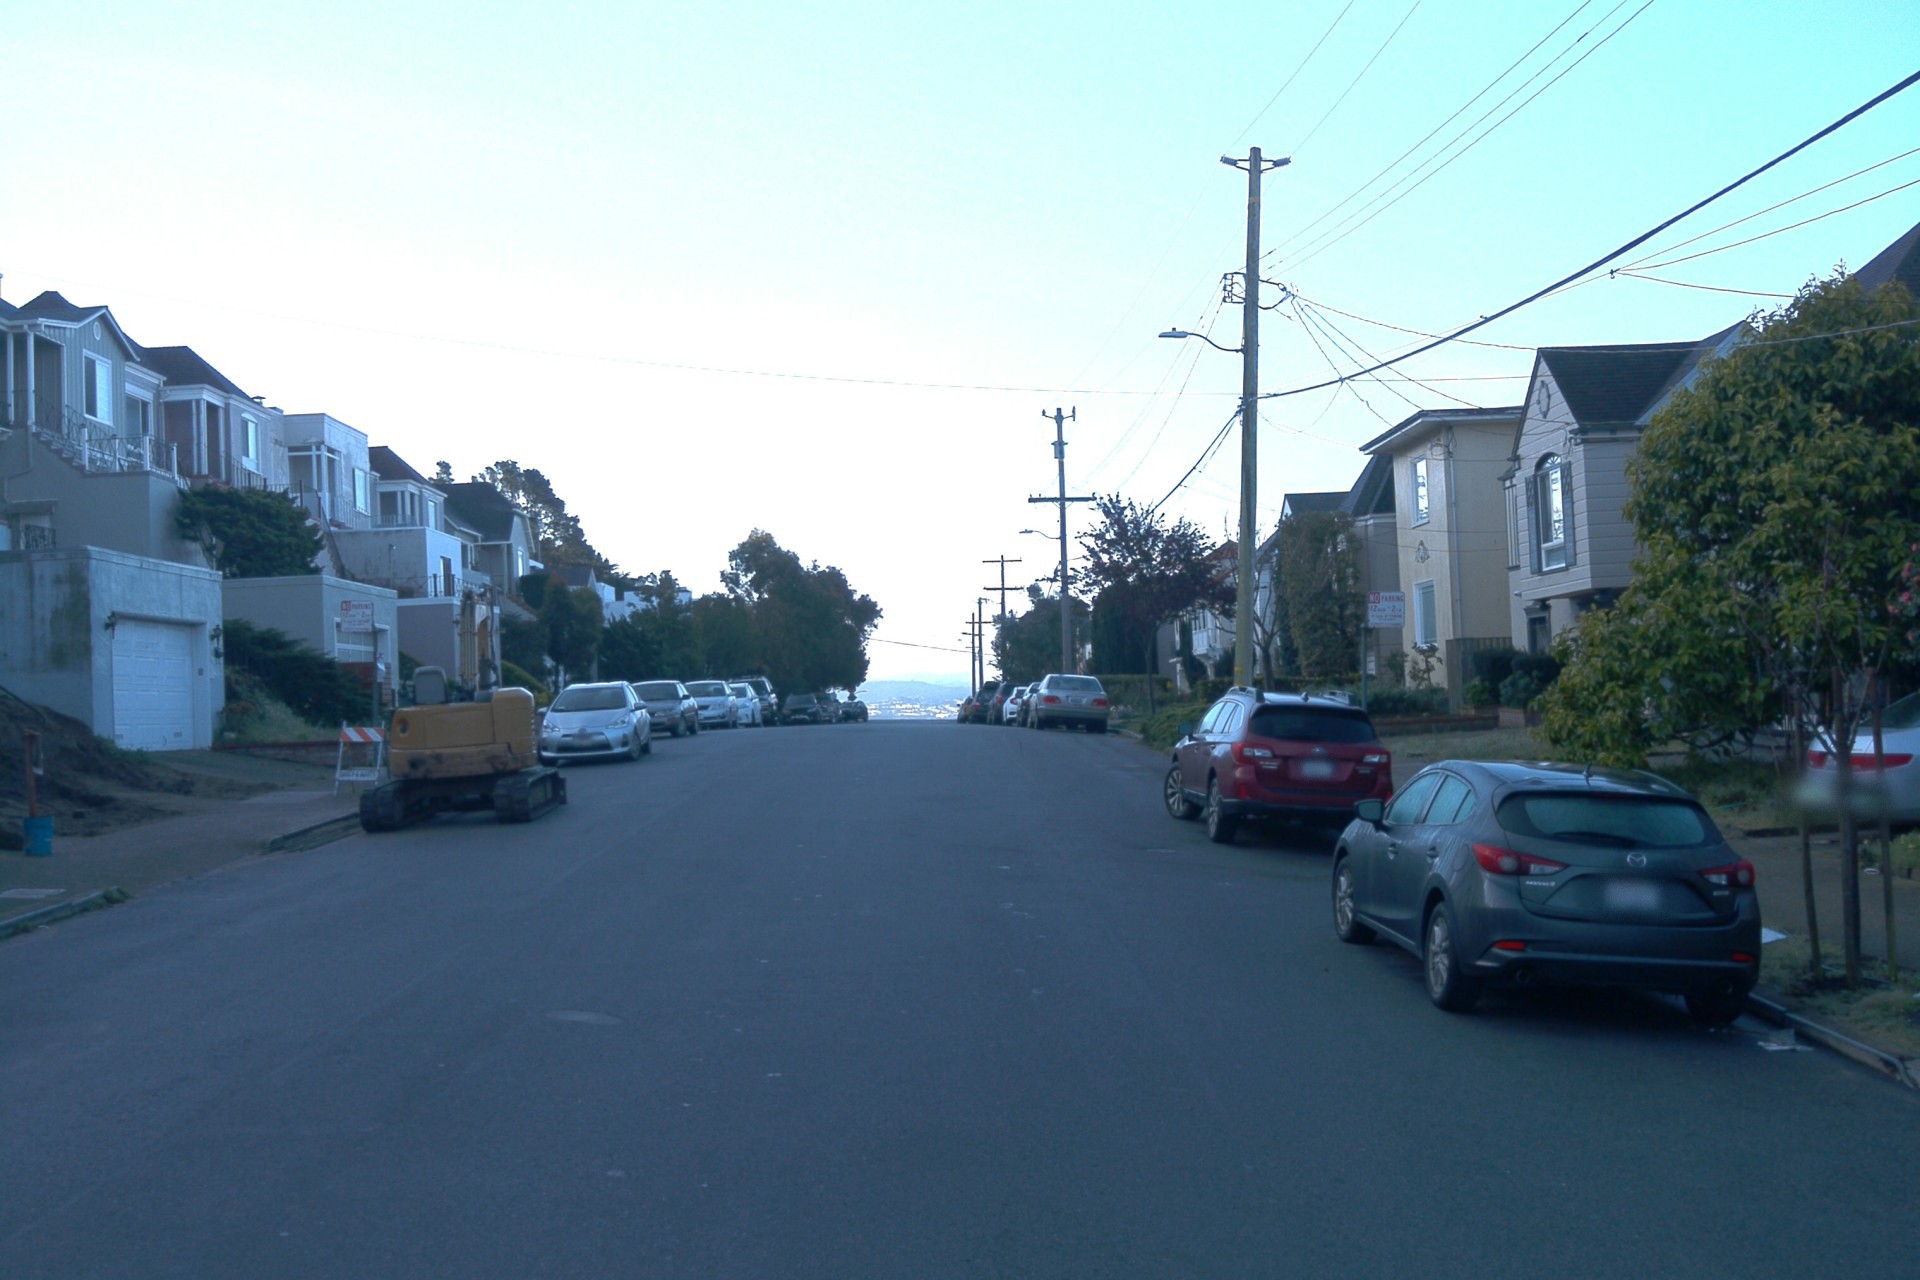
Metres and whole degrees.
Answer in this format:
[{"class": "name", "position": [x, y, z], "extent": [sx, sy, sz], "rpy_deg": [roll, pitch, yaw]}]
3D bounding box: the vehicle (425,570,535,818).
[{"class": "vehicle", "position": [-6.431, 0.690, 27.774], "extent": [1.142, 3.170, 2.649], "rpy_deg": [0, 0, -6]}]

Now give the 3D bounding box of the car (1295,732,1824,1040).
[{"class": "car", "position": [3.667, 1.453, 13.614], "extent": [2.105, 1.480, 4.617], "rpy_deg": [0, 0, -1]}]

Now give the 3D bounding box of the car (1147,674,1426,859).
[{"class": "car", "position": [3.560, 1.331, 23.485], "extent": [2.206, 1.800, 4.939], "rpy_deg": [0, 0, -3]}]

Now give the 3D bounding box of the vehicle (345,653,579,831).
[{"class": "vehicle", "position": [-6.104, 1.204, 25.665], "extent": [2.170, 2.050, 3.317], "rpy_deg": [0, 0, -1]}]
